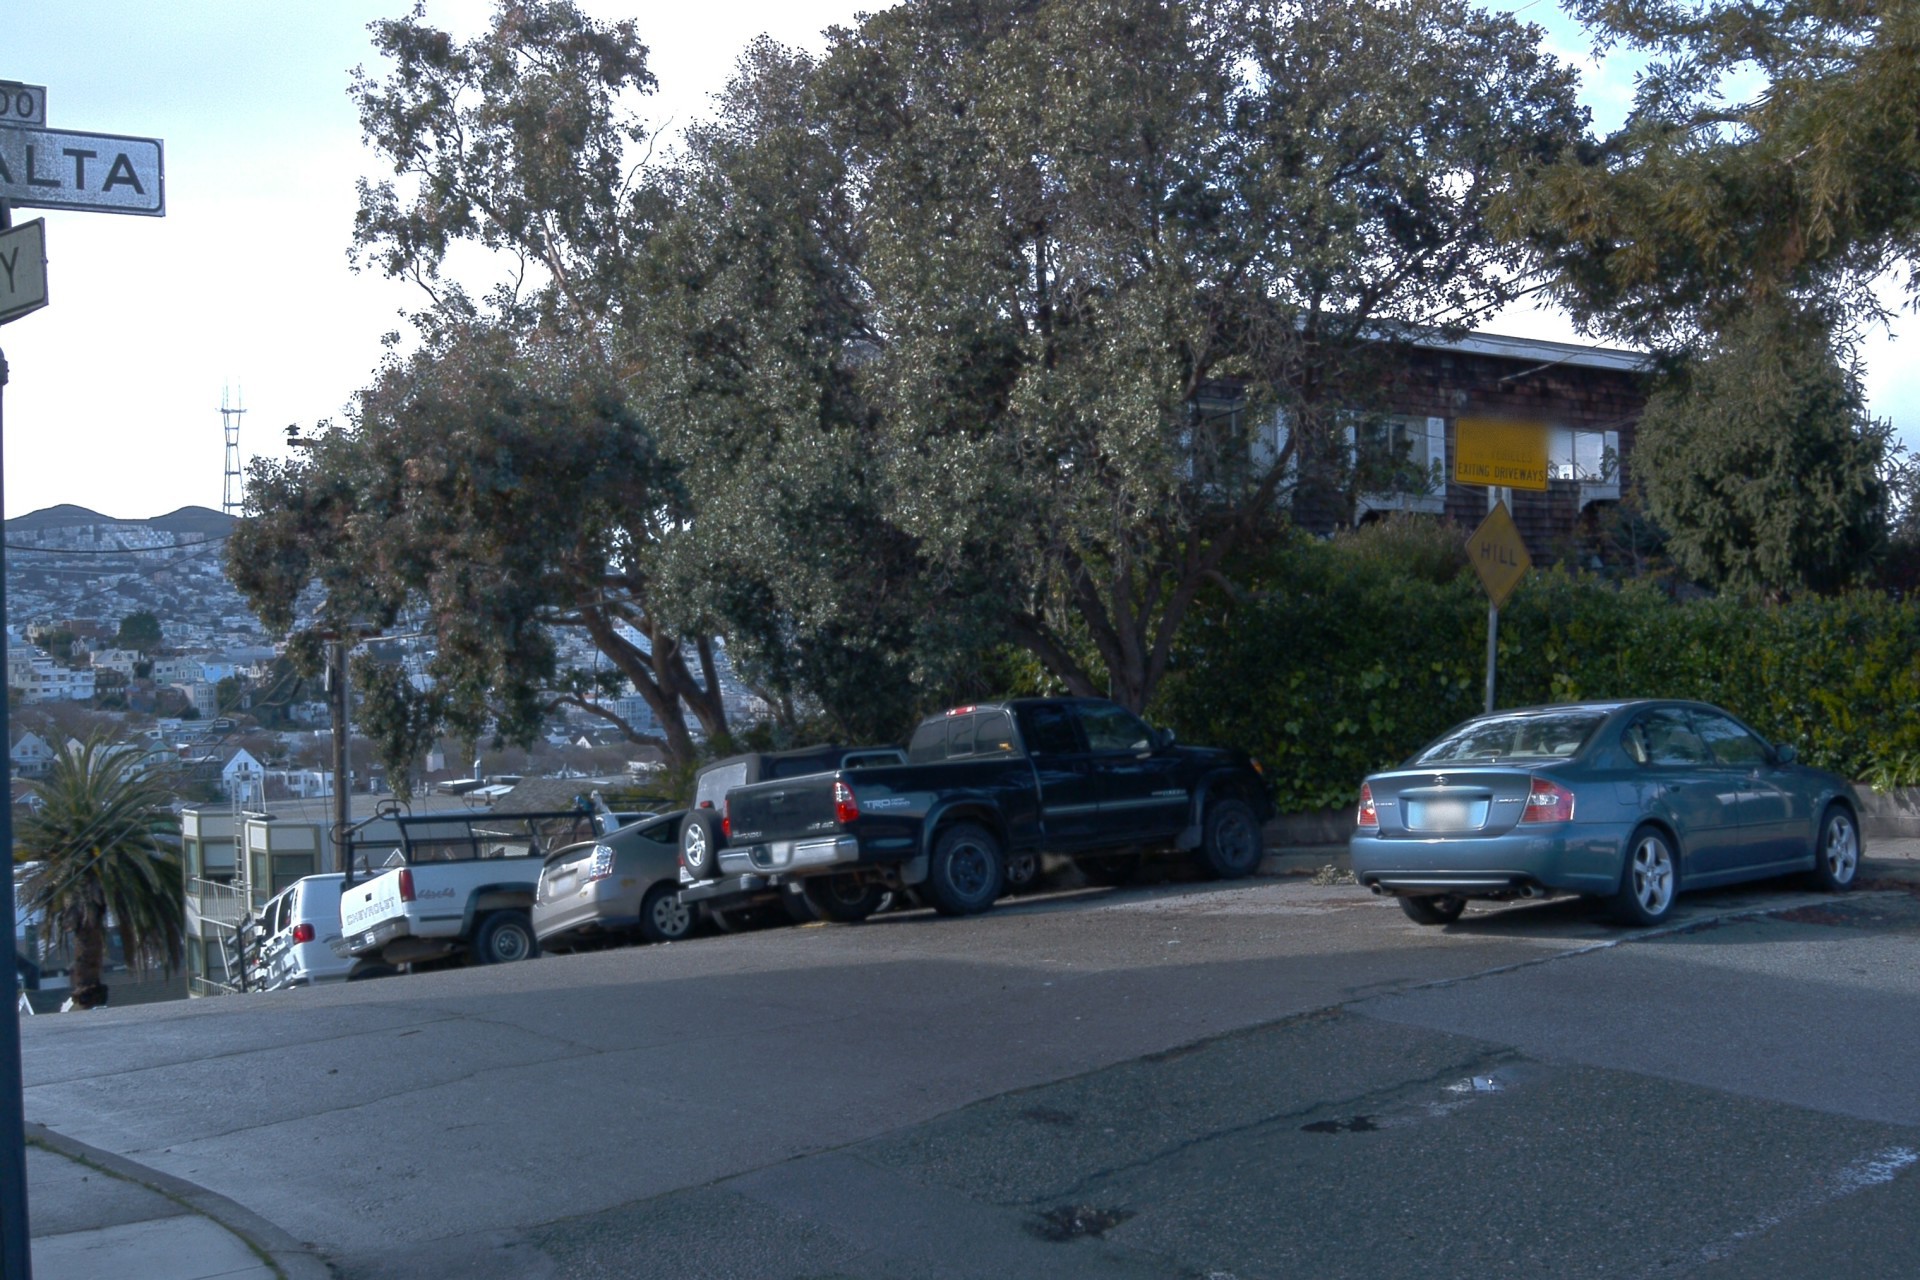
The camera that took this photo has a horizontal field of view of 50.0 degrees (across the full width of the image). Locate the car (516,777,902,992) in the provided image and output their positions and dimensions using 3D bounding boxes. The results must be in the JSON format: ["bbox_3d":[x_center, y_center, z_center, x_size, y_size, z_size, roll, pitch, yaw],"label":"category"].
[{"bbox_3d":[-2.710,2.580,22.539,3.842,1.880,1.735,0,1,-38],"label":"car"}]

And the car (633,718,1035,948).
[{"bbox_3d":[-1.259,1.895,21.263,3.837,2.000,1.720,0,1,-38],"label":"car"}]

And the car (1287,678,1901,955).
[{"bbox_3d":[4.406,1.045,13.900,4.521,1.450,1.903,0,1,-42],"label":"car"}]

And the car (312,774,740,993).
[{"bbox_3d":[-5.021,2.725,24.024,4.328,1.990,2.275,0,1,-39],"label":"car"}]

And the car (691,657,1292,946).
[{"bbox_3d":[0.430,1.294,18.751,5.451,2.190,2.074,0,1,-41],"label":"car"}]

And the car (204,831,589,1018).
[{"bbox_3d":[-7.375,3.645,27.107,4.365,1.810,2.217,0,1,-39],"label":"car"}]
